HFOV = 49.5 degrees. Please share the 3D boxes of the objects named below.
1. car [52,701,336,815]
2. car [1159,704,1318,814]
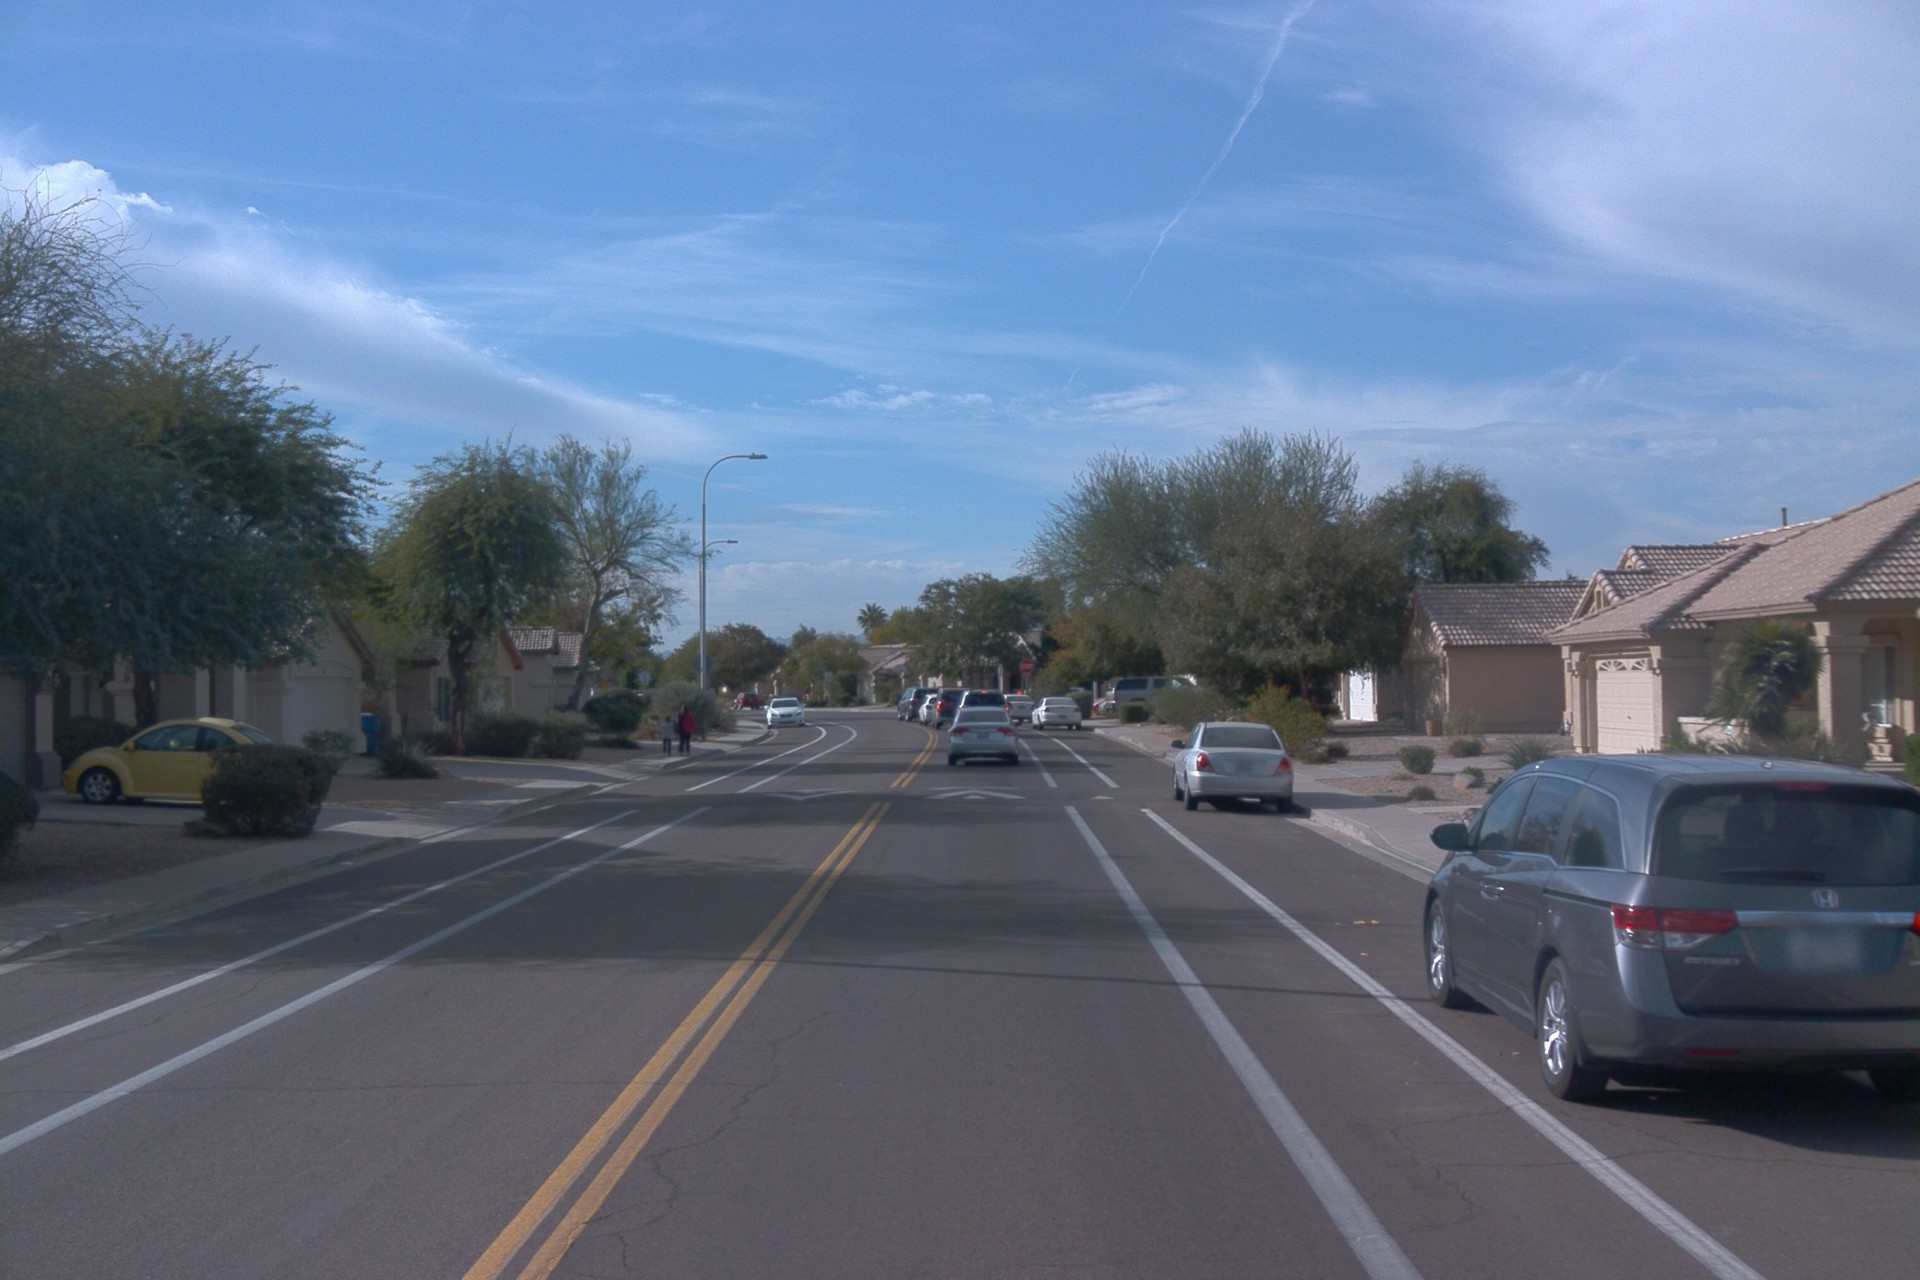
[{"bbox_3d":[-12.757,1.943,34.841,4.018,1.800,1.984,0,-1,0],"label":"car"},{"bbox_3d":[4.580,1.932,34.882,2.032,1.640,4.702,0,-1,0],"label":"car"}]
